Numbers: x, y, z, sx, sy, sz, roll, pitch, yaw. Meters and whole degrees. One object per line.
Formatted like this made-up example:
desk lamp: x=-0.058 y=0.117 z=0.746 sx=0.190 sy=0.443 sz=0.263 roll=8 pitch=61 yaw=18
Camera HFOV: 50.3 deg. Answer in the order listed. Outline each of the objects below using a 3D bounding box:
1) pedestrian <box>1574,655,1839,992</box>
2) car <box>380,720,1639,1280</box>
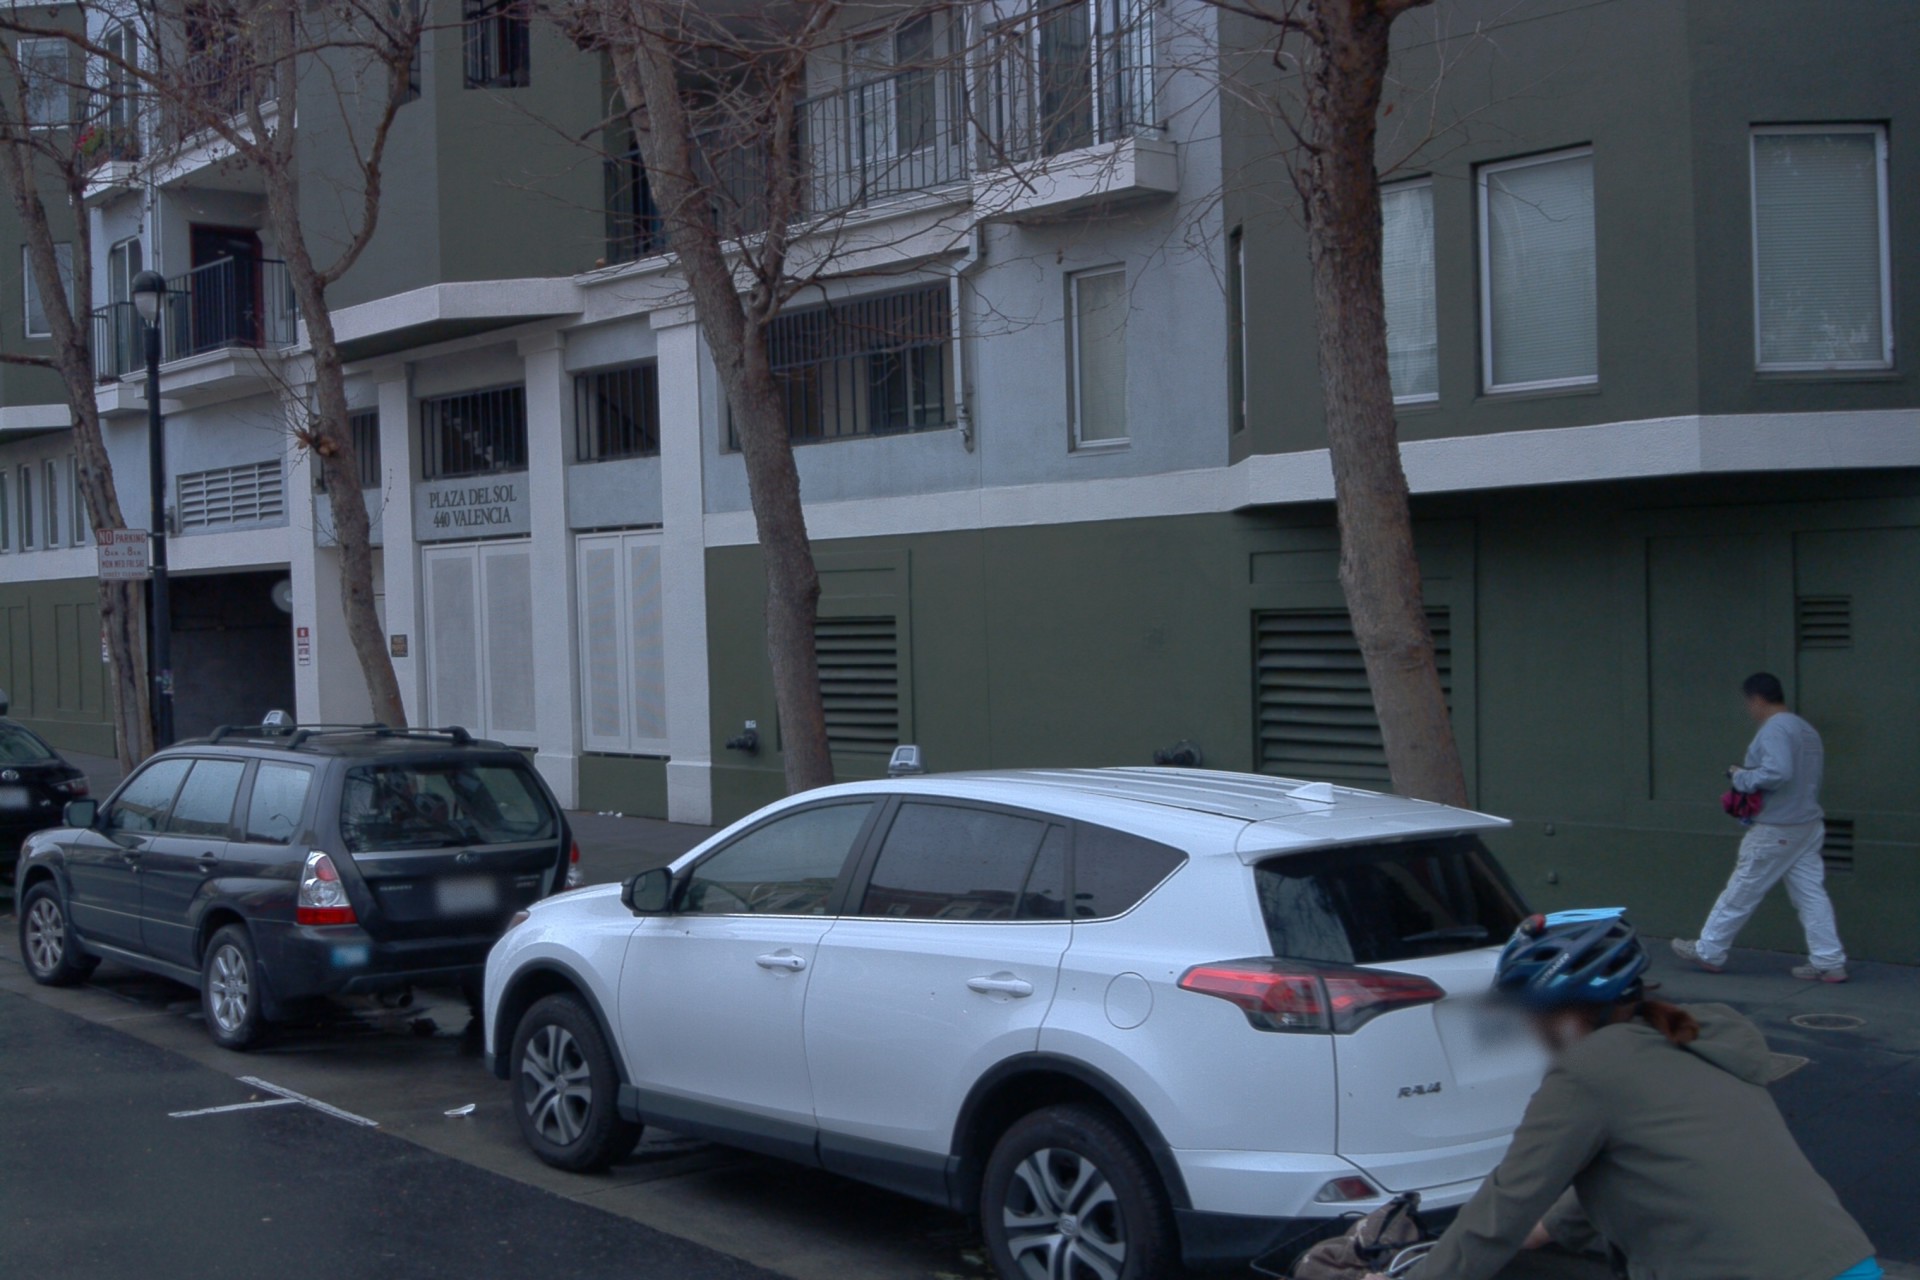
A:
pedestrian: x=3.947 y=0.915 z=10.814 sx=1.017 sy=1.650 sz=0.944 roll=1 pitch=1 yaw=42
car: x=-0.082 y=1.233 z=7.787 sx=2.135 sy=1.630 sz=4.575 roll=0 pitch=0 yaw=-45
